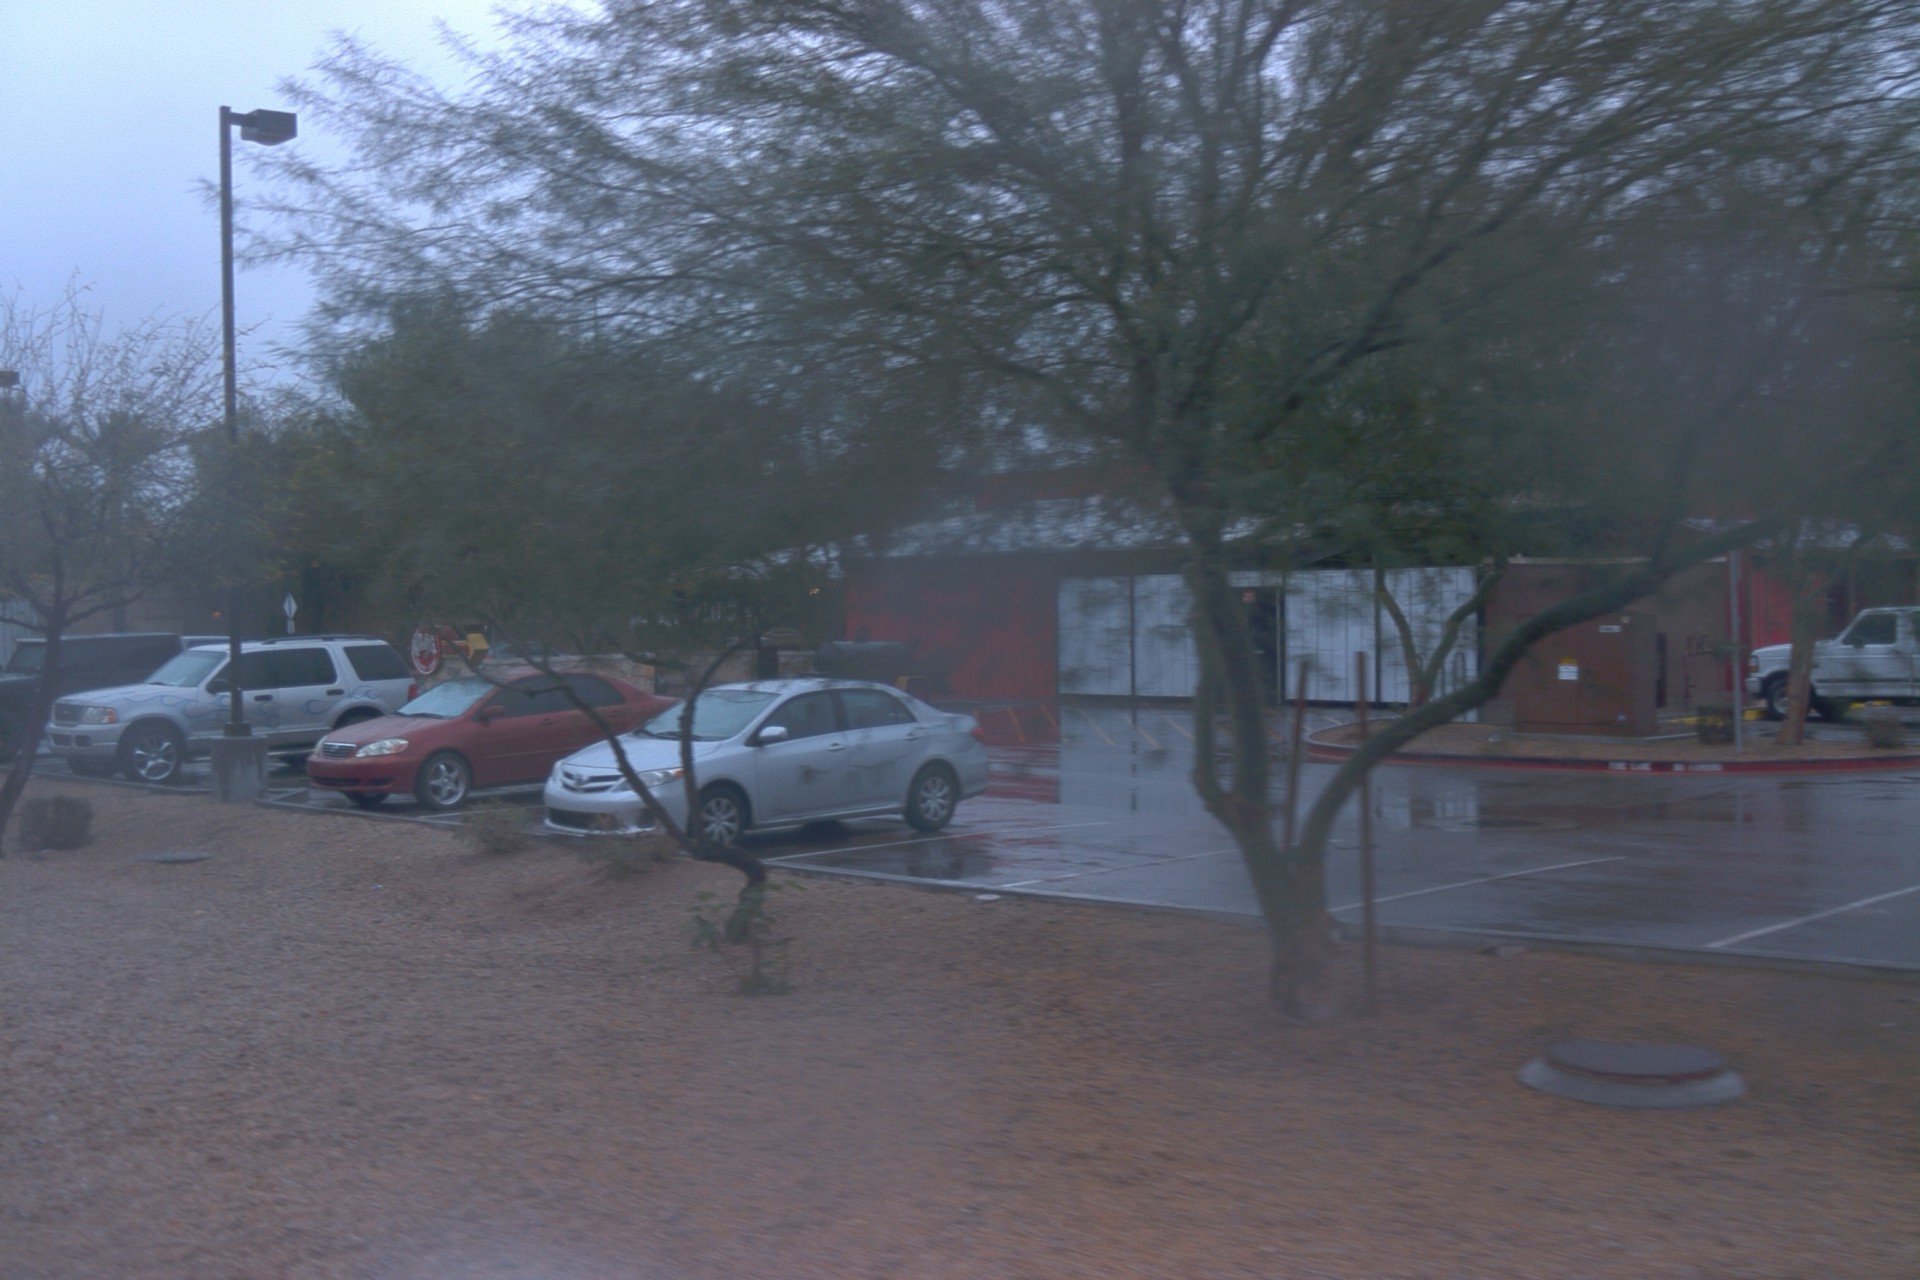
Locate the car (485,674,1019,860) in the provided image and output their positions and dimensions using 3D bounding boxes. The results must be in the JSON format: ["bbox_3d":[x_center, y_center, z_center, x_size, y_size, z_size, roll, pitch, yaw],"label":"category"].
[{"bbox_3d":[-1.818,1.077,19.333,4.649,1.490,2.083,1,-1,-45],"label":"car"}]

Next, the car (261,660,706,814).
[{"bbox_3d":[-5.282,1.012,23.505,2.049,1.560,4.510,0,-1,44],"label":"car"}]

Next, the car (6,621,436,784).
[{"bbox_3d":[-9.643,0.777,27.454,2.244,1.950,4.850,0,-1,44],"label":"car"}]
